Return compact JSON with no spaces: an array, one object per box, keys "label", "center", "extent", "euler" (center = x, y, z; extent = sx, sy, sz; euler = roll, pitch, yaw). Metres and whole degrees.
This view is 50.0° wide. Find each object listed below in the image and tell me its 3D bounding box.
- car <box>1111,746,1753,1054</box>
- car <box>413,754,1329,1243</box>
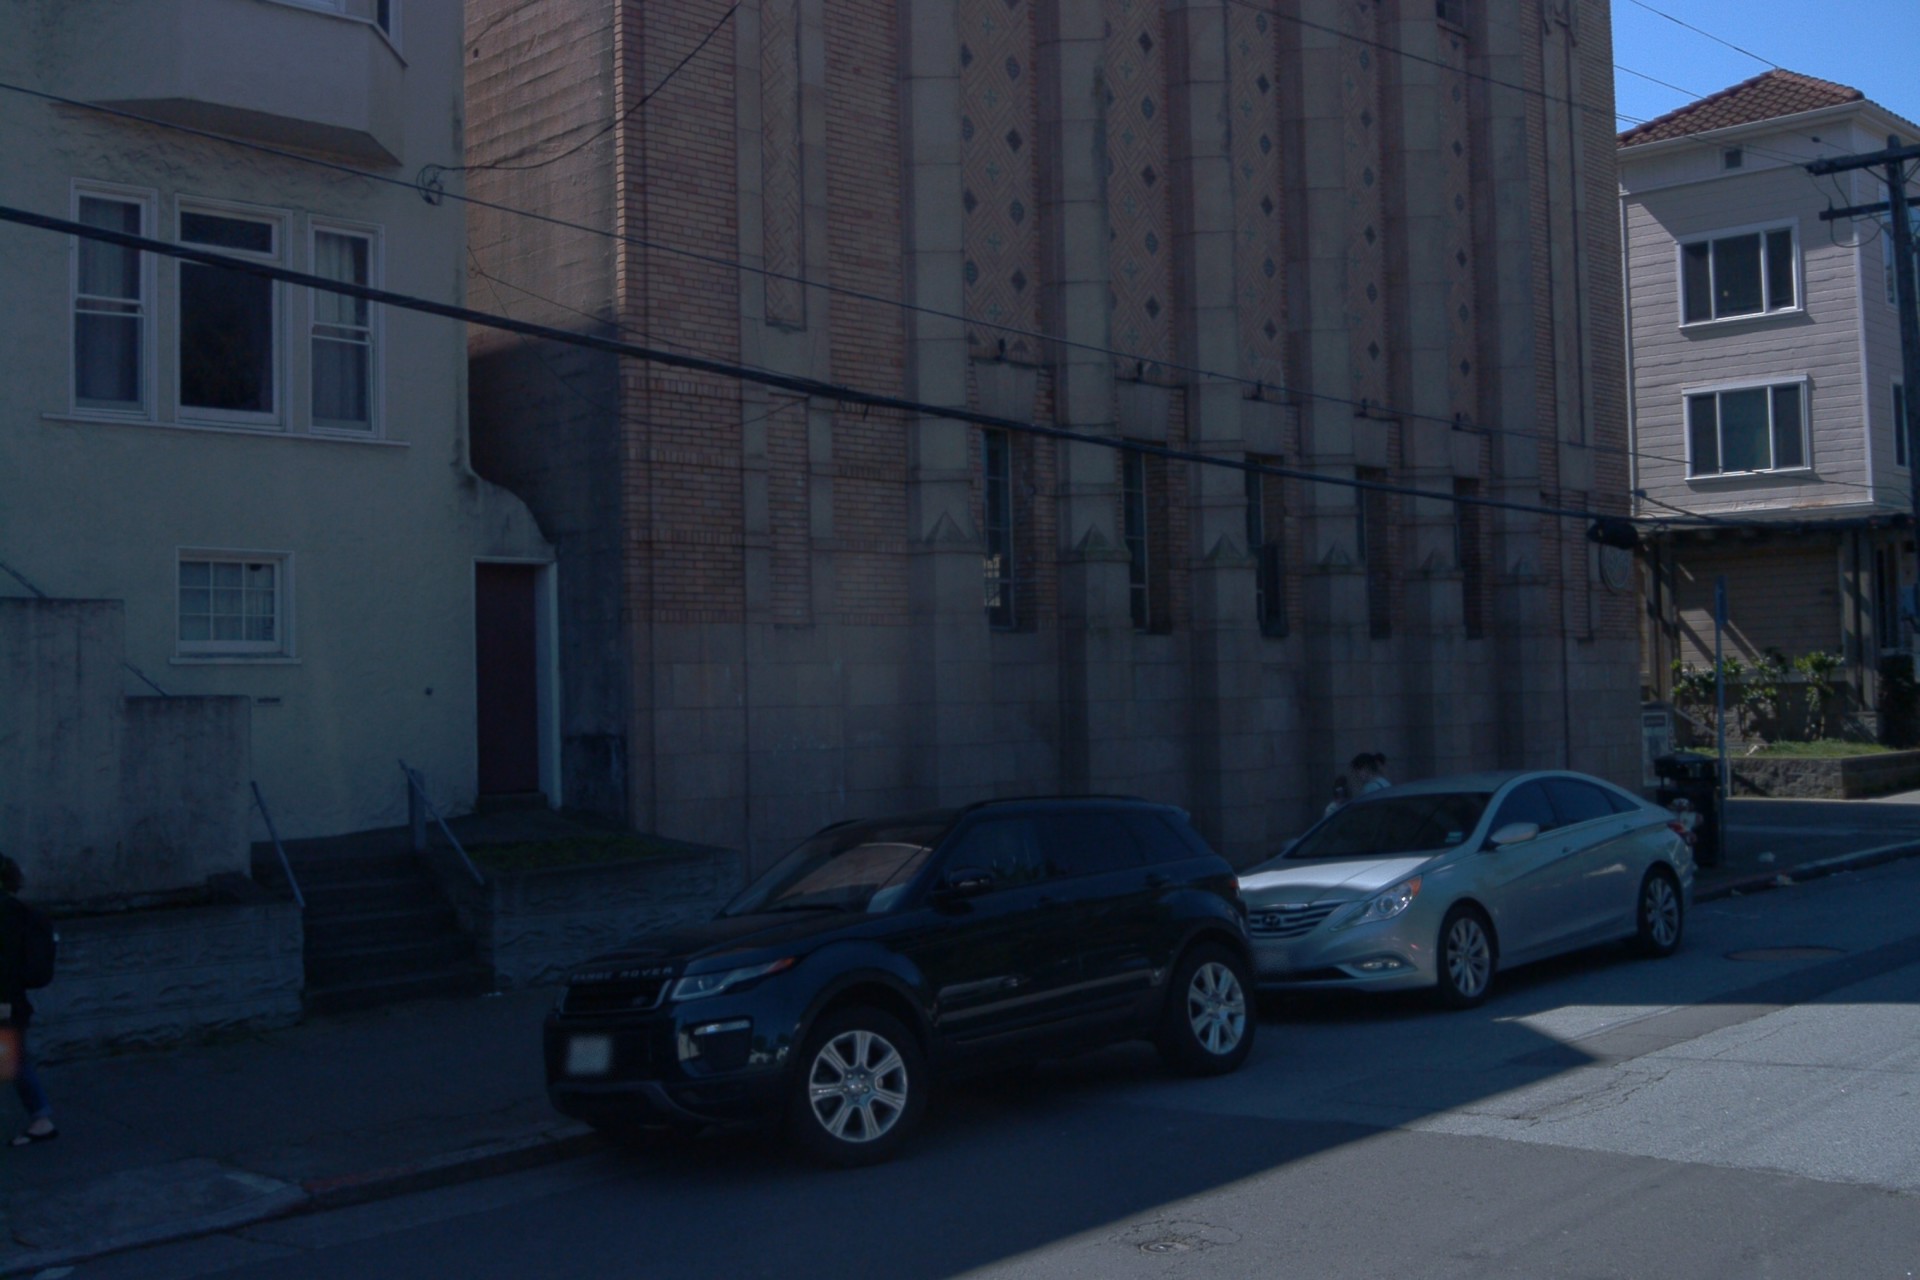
[{"label":"car","center":[3.544,1.680,14.789],"extent":[2.234,1.500,4.935],"euler":[1,1,45]},{"label":"car","center":[-0.282,1.611,10.852],"extent":[4.568,1.690,2.153],"euler":[-1,1,-45]}]
